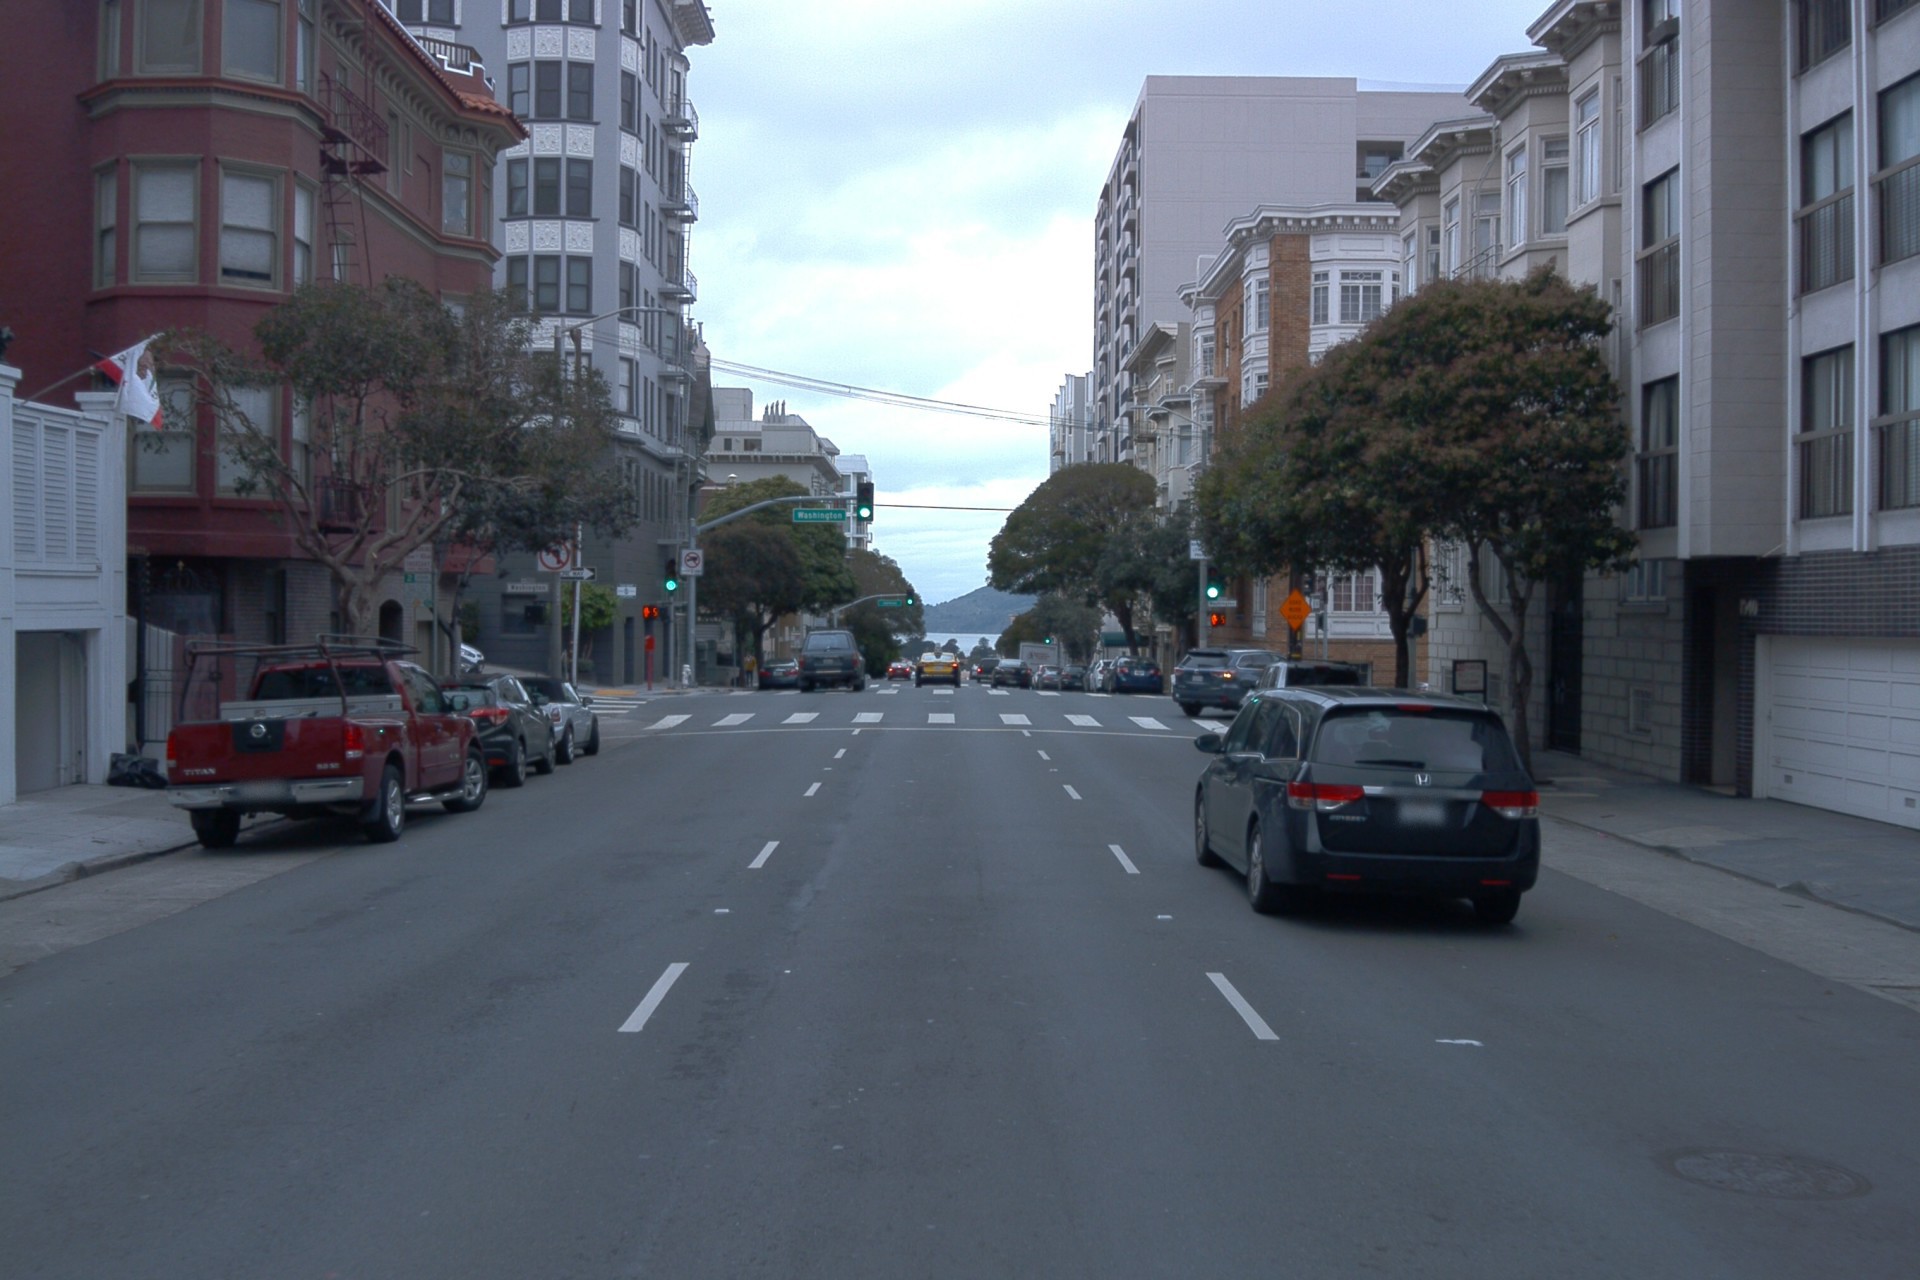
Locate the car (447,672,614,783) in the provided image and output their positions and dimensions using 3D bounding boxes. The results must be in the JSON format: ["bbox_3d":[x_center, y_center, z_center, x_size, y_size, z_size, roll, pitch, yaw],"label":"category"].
[{"bbox_3d":[-7.080,1.404,34.168,2.030,1.640,4.041,0,1,-1],"label":"car"}]

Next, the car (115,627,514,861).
[{"bbox_3d":[-6.752,0.965,22.358,2.443,2.200,5.899,0,1,1],"label":"car"}]

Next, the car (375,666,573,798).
[{"bbox_3d":[-6.859,1.252,29.396,1.870,1.650,4.499,0,1,-1],"label":"car"}]

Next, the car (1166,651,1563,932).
[{"bbox_3d":[3.075,1.071,16.792,2.200,1.890,4.938,0,1,-1],"label":"car"}]
